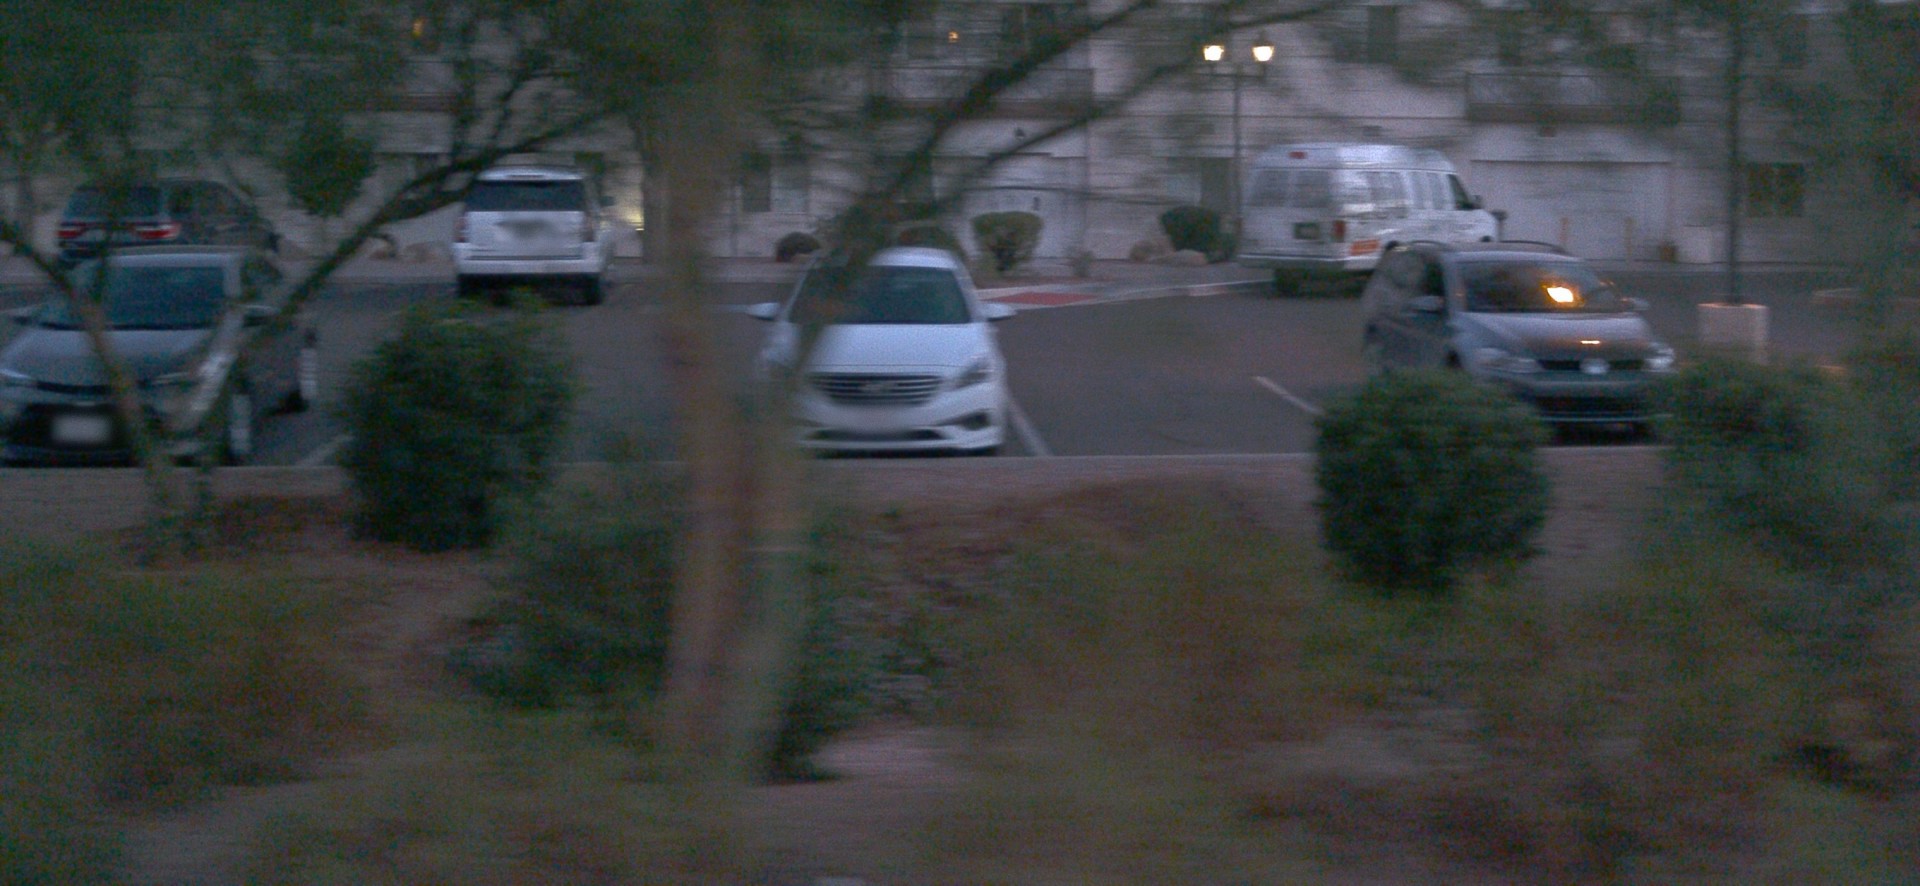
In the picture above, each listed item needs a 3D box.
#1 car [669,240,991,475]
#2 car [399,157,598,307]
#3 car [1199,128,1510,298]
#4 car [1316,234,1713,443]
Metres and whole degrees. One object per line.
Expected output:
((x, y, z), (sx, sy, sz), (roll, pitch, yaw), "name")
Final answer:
((-0.944, -0.826, 16.560), (2.179, 1.563, 4.958), (0, 5, -2), "car")
((-6.529, -3.057, 30.004), (2.379, 1.962, 5.439), (-1, 5, -8), "car")
((6.460, -3.671, 33.345), (2.448, 2.472, 6.019), (2, 5, 38), "car")
((4.567, -1.015, 17.859), (2.073, 1.543, 4.526), (0, 5, -2), "car")
